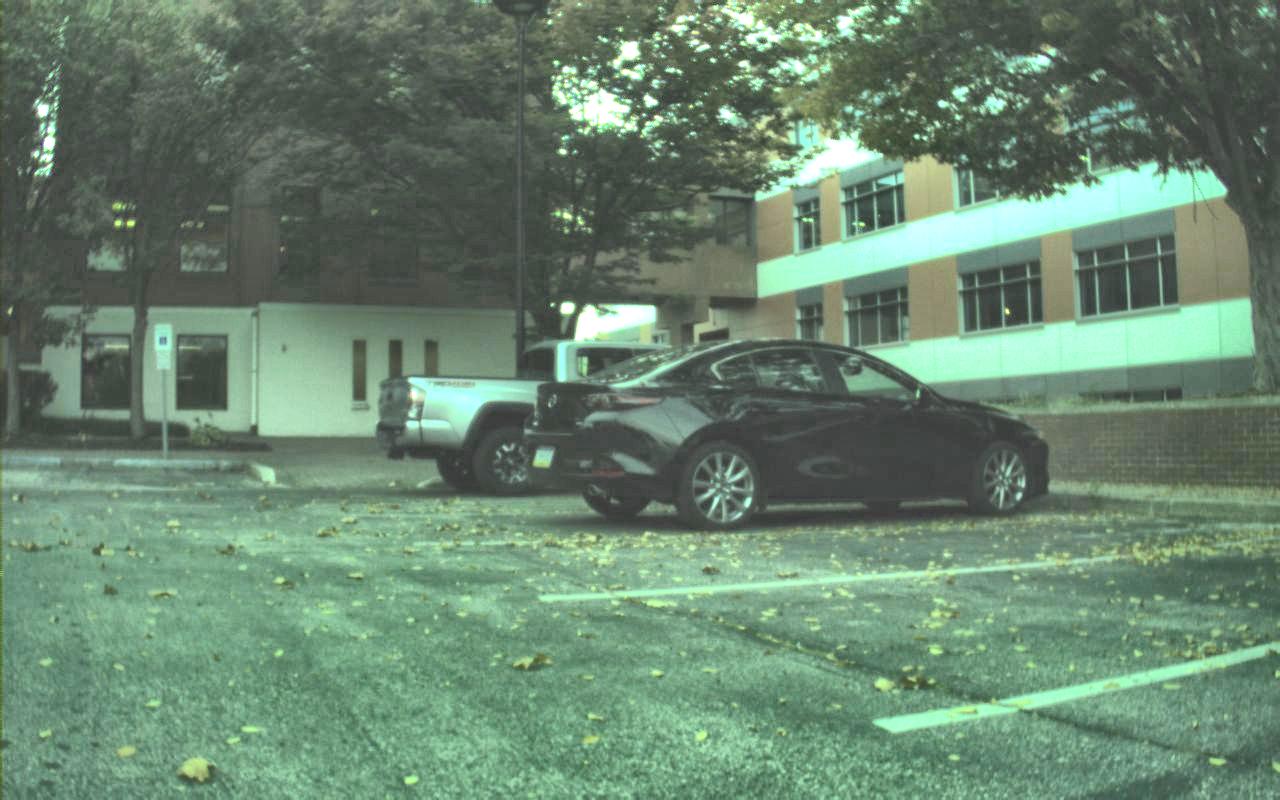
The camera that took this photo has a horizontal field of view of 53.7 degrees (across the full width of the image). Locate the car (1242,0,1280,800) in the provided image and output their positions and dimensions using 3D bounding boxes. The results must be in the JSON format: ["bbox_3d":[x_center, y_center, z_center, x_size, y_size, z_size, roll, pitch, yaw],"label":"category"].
[{"bbox_3d":[4.216,-0.091,3.037,4.592,1.719,1.990,0,1,-20],"label":"car"}]

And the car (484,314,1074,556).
[{"bbox_3d":[1.245,0.193,10.096,4.585,1.577,1.931,0,1,-28],"label":"car"}]

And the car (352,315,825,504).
[{"bbox_3d":[-0.628,0.068,14.769,5.227,1.940,2.129,0,1,-24],"label":"car"}]
